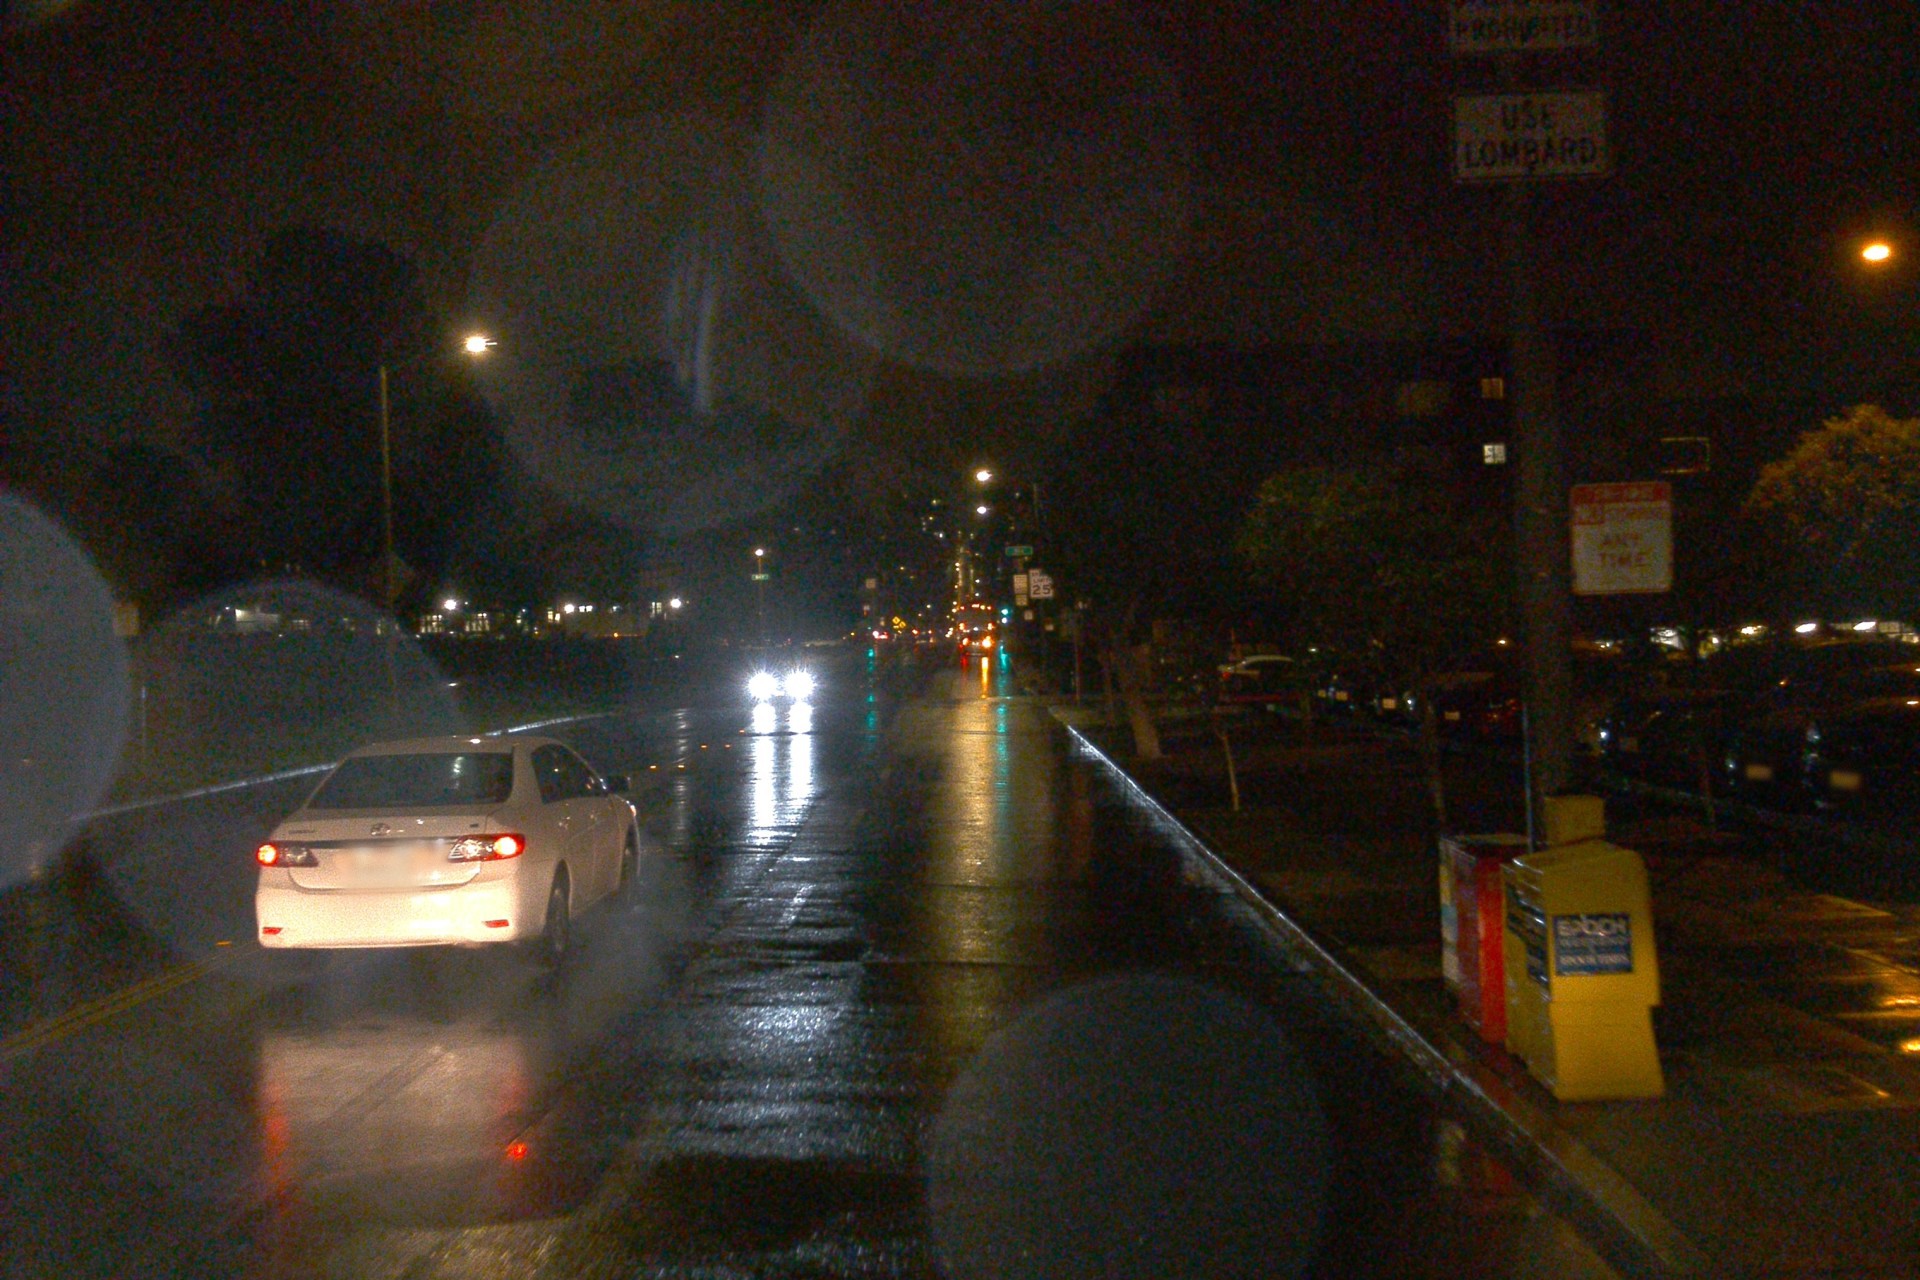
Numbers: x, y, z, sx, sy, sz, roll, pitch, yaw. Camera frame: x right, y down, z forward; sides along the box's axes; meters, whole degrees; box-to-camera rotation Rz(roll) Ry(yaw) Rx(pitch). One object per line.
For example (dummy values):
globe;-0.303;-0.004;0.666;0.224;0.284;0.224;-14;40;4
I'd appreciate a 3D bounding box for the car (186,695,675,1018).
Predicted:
car;-3.359;1.302;14.101;2.070;1.660;4.541;1;0;1

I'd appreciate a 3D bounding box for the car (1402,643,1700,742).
car;9.528;0.818;33.174;4.412;1.470;2.070;1;0;-29

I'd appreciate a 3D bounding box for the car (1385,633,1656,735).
car;10.054;0.765;36.936;4.428;1.710;2.059;1;0;-27

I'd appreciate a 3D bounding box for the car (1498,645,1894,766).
car;9.776;0.846;27.344;4.891;1.460;1.992;1;0;-24
